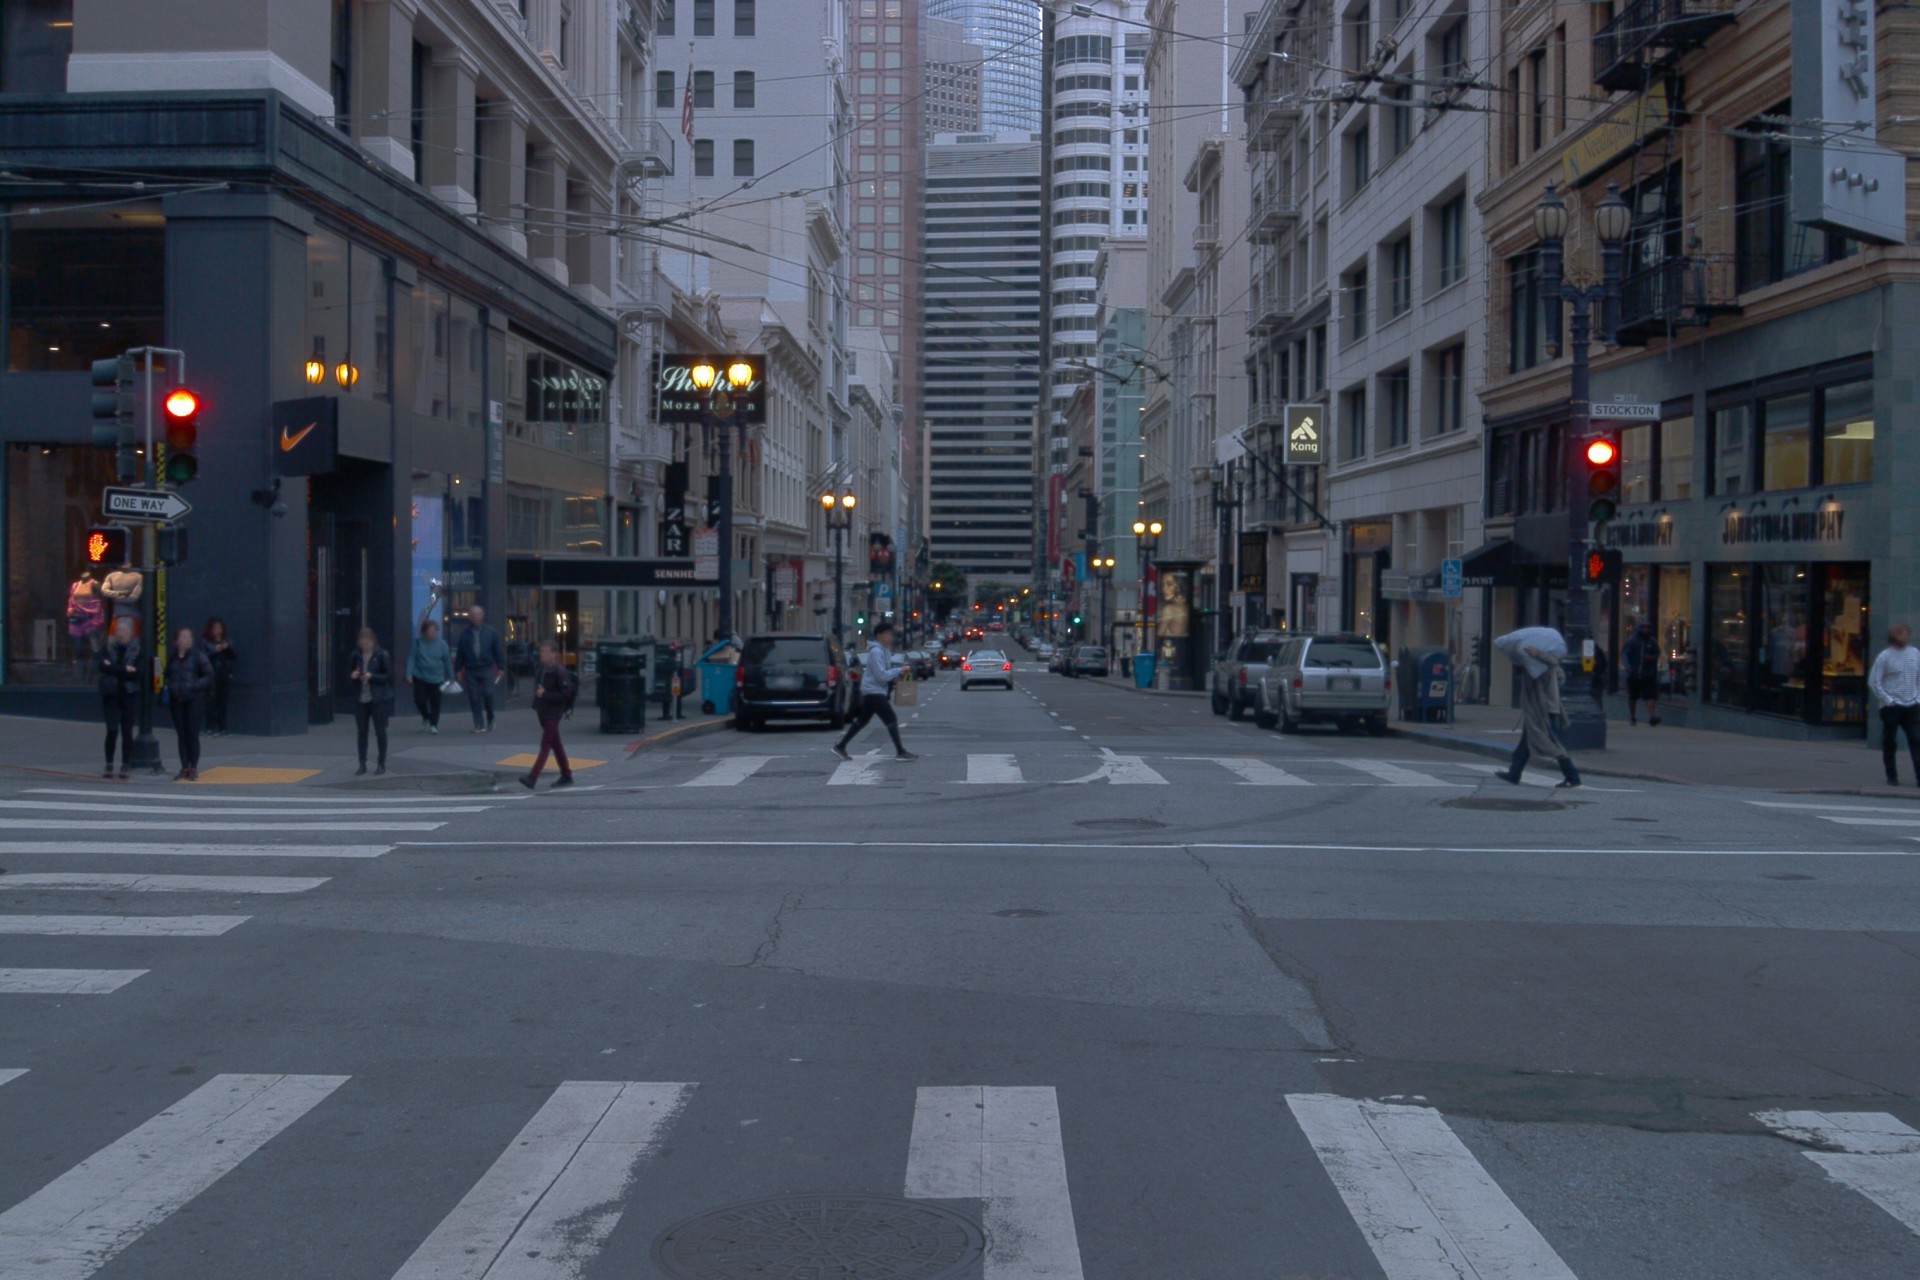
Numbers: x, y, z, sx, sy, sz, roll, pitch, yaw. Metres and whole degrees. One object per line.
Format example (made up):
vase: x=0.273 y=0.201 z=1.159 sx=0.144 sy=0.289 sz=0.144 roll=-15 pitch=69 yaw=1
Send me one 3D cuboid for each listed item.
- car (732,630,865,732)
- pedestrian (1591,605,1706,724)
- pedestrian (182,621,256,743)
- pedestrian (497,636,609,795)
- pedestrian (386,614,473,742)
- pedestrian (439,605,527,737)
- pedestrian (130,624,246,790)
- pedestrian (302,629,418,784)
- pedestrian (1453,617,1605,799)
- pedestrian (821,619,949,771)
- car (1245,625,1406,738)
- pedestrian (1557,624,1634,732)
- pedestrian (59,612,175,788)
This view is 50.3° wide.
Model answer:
car: x=-2.829 y=0.678 z=36.779 sx=1.946 sy=1.699 sz=4.331 roll=0 pitch=1 yaw=2
pedestrian: x=11.486 y=0.388 z=34.206 sx=1.454 sy=1.930 sz=1.641 roll=0 pitch=1 yaw=4
pedestrian: x=-9.272 y=0.515 z=25.606 sx=0.637 sy=1.500 sz=0.687 roll=-1 pitch=1 yaw=-45
pedestrian: x=-4.447 y=0.800 z=22.387 sx=0.674 sy=1.680 sz=0.998 roll=1 pitch=1 yaw=38
pedestrian: x=-7.315 y=0.512 z=28.249 sx=1.000 sy=1.740 sz=1.000 roll=0 pitch=1 yaw=-4
pedestrian: x=-6.676 y=0.418 z=28.657 sx=1.000 sy=1.820 sz=1.000 roll=0 pitch=1 yaw=0
pedestrian: x=-8.173 y=0.690 z=21.705 sx=0.954 sy=1.710 sz=1.071 roll=0 pitch=1 yaw=-9
pedestrian: x=-6.497 y=0.697 z=22.201 sx=0.974 sy=1.630 sz=1.122 roll=0 pitch=1 yaw=-3
pedestrian: x=6.015 y=0.673 z=21.550 sx=1.394 sy=1.830 sz=1.607 roll=0 pitch=1 yaw=21
pedestrian: x=-0.883 y=0.632 z=24.525 sx=1.283 sy=1.773 sz=1.304 roll=0 pitch=1 yaw=11
car: x=6.359 y=0.679 z=36.049 sx=1.952 sy=1.860 sz=4.298 roll=0 pitch=1 yaw=-1
pedestrian: x=10.524 y=0.613 z=33.892 sx=0.891 sy=1.770 sz=1.163 roll=0 pitch=1 yaw=-1
pedestrian: x=-8.865 y=0.611 z=21.555 sx=0.897 sy=1.800 sz=1.086 roll=0 pitch=1 yaw=-9
